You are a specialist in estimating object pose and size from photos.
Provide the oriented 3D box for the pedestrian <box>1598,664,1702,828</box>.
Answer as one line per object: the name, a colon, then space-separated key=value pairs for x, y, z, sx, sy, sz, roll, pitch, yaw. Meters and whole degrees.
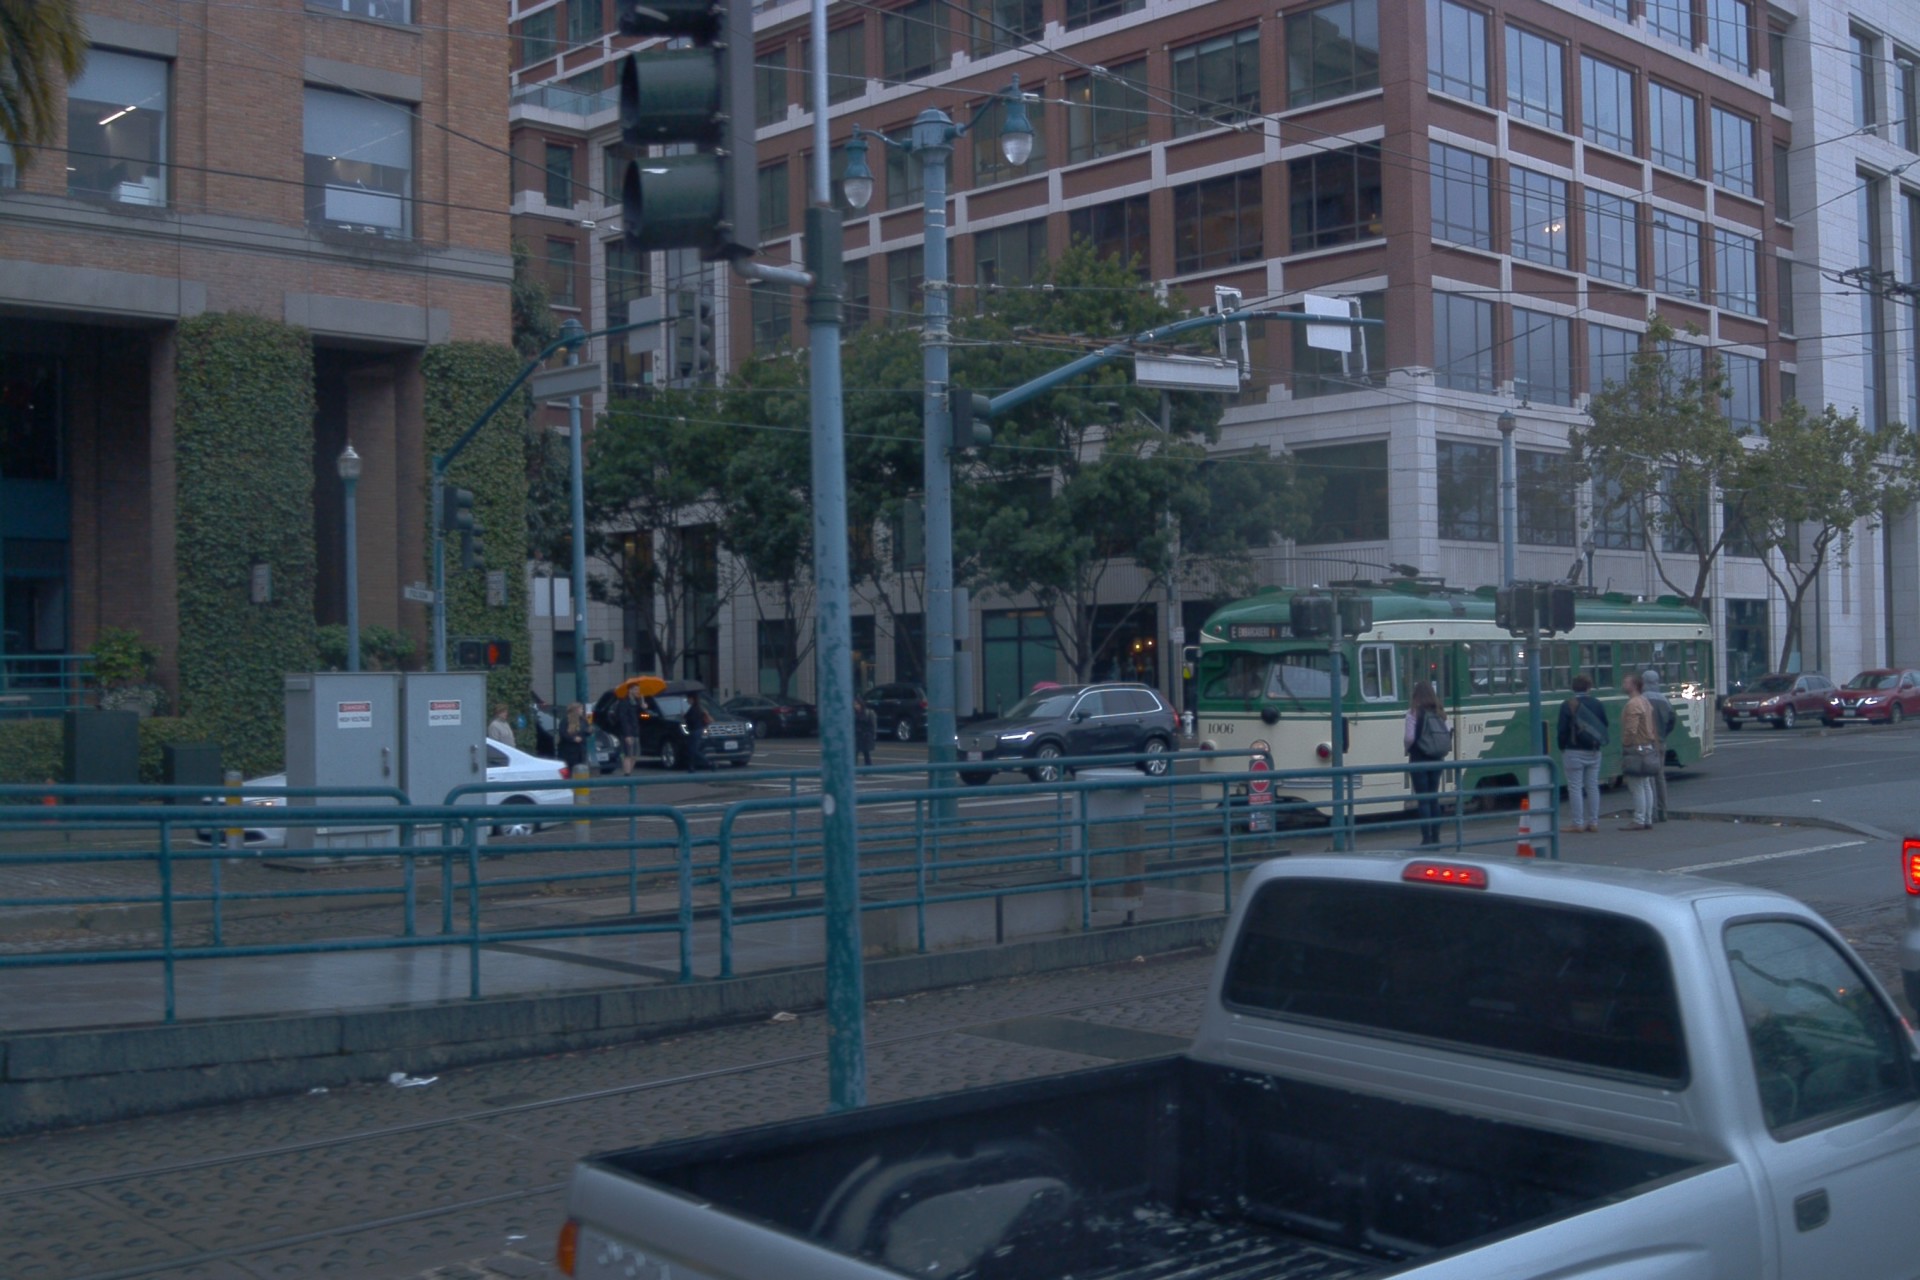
pedestrian: x=8.320 y=1.258 z=25.083 sx=0.877 sy=1.920 sz=0.851 roll=0 pitch=0 yaw=-36

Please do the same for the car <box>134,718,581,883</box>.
car: x=-6.876 y=1.769 z=24.093 sx=1.980 sy=1.550 sz=4.592 roll=0 pitch=0 yaw=44

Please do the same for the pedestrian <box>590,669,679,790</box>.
pedestrian: x=-5.752 y=1.557 z=36.729 sx=0.989 sy=2.080 sz=1.194 roll=0 pitch=0 yaw=44

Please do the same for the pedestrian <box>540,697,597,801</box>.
pedestrian: x=-6.626 y=1.837 z=35.179 sx=0.753 sy=1.710 sz=0.737 roll=0 pitch=0 yaw=-28

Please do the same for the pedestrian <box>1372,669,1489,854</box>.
pedestrian: x=4.862 y=1.229 z=21.517 sx=0.852 sy=1.840 sz=0.831 roll=0 pitch=0 yaw=-37

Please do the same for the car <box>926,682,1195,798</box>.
car: x=1.883 y=1.739 z=37.491 sx=2.075 sy=1.850 sz=4.959 roll=0 pitch=0 yaw=44

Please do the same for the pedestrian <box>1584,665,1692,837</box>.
pedestrian: x=7.798 y=1.253 z=23.923 sx=0.878 sy=1.920 sz=0.851 roll=0 pitch=0 yaw=-42

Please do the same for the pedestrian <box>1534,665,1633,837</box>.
pedestrian: x=7.118 y=1.249 z=23.761 sx=0.822 sy=1.920 sz=0.880 roll=0 pitch=0 yaw=-6
